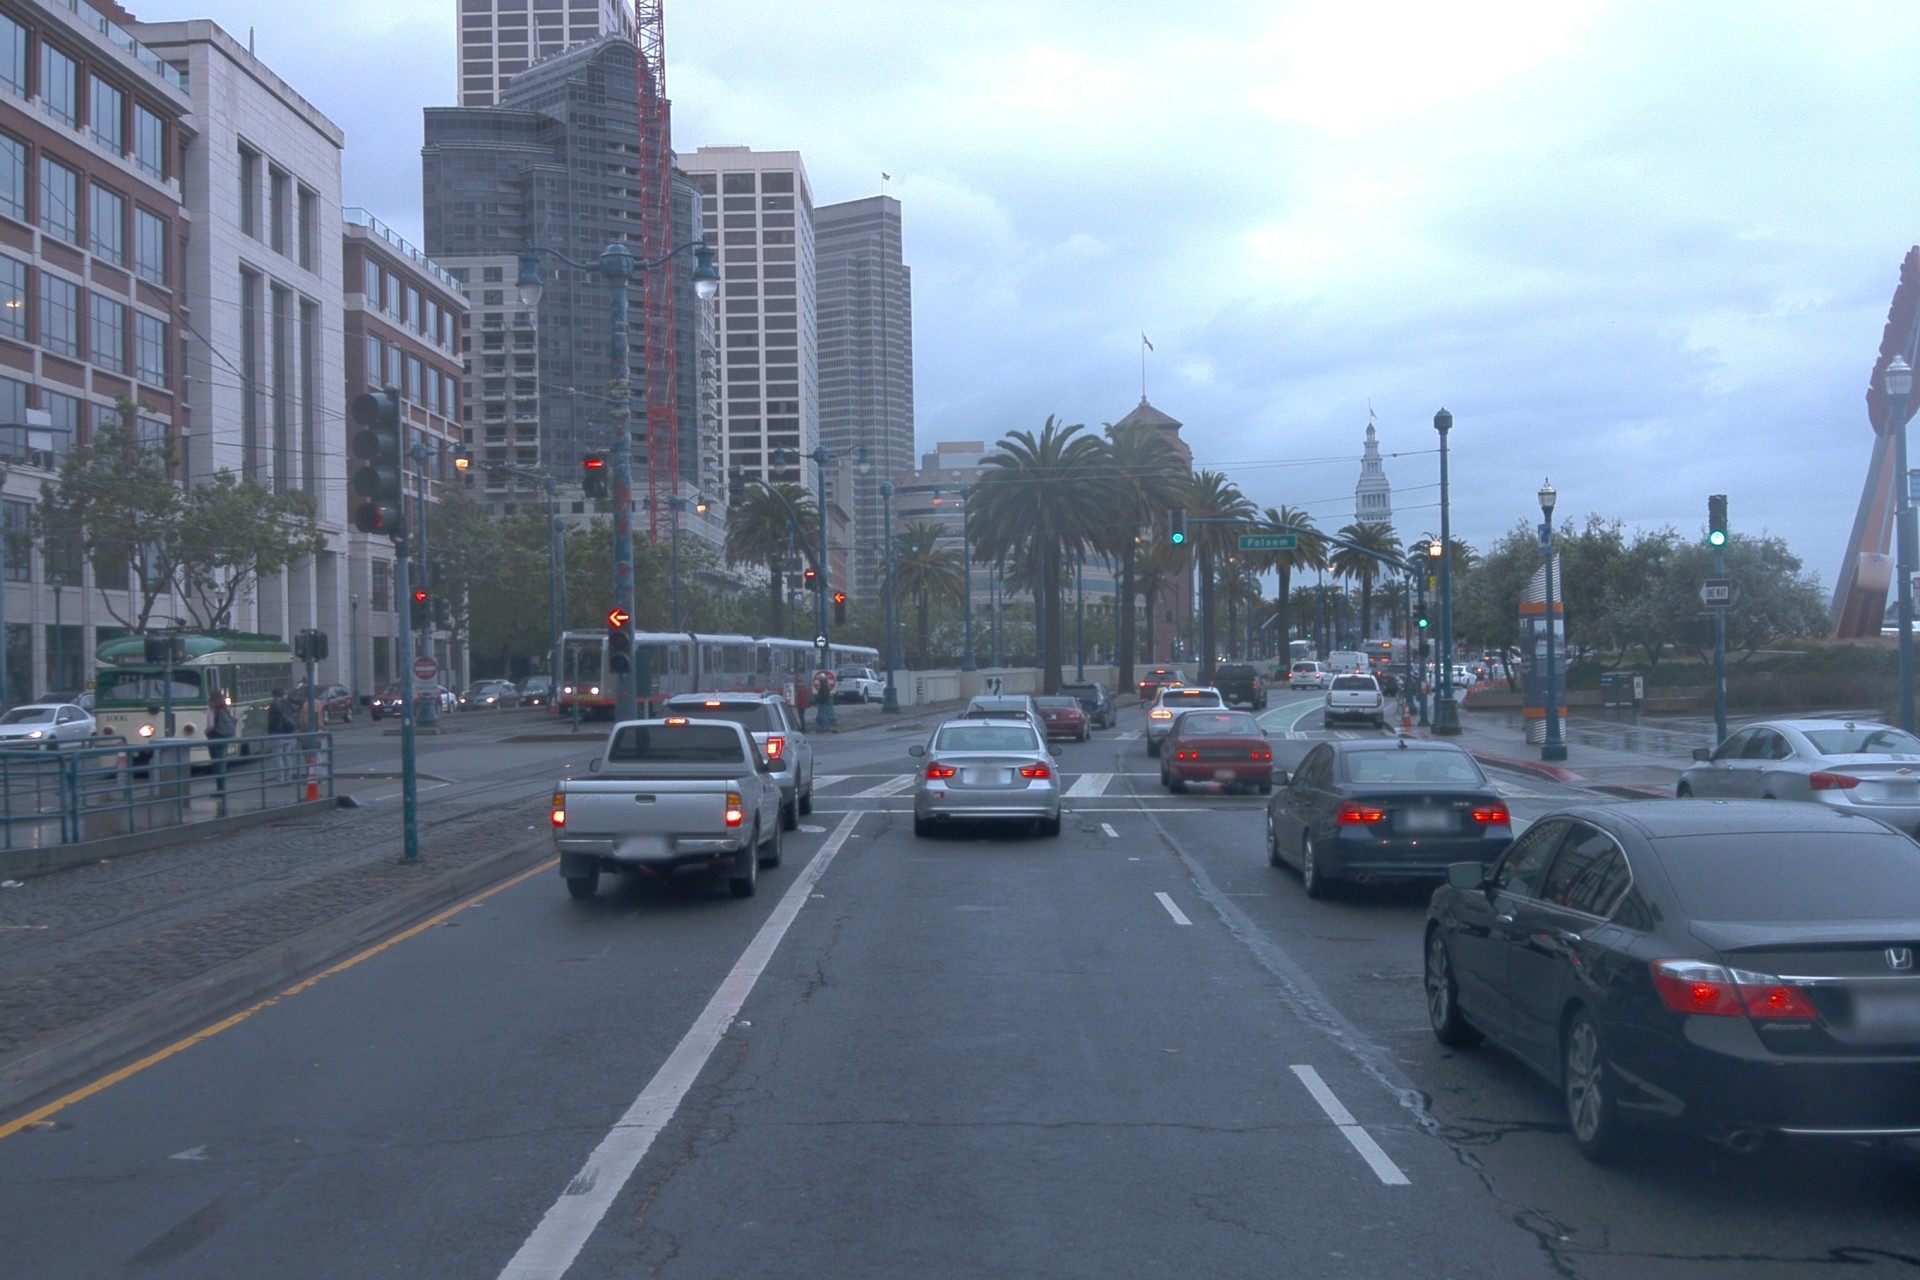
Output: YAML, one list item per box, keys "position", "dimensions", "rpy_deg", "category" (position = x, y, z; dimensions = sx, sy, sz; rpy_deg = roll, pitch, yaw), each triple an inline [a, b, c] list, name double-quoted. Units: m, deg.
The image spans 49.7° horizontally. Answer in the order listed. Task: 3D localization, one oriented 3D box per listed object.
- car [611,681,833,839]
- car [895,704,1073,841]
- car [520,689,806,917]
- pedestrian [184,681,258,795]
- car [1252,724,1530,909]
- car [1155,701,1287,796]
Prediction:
- position: [-3.034, 1.505, 27.592]
  dimensions: [2.401, 1.870, 5.027]
  rpy_deg: [0, -1, 0]
  category: "car"
- position: [0.322, 1.611, 26.459]
  dimensions: [2.067, 1.510, 4.625]
  rpy_deg: [0, -1, 1]
  category: "car"
- position: [-2.670, 1.427, 19.796]
  dimensions: [2.053, 1.860, 4.771]
  rpy_deg: [0, -1, 0]
  category: "car"
- position: [-12.079, 1.591, 33.922]
  dimensions: [0.842, 1.840, 0.842]
  rpy_deg: [0, -1, 8]
  category: "pedestrian"
- position: [3.955, 1.583, 19.738]
  dimensions: [1.869, 1.450, 4.344]
  rpy_deg: [0, -1, 2]
  category: "car"
- position: [4.306, 1.772, 34.705]
  dimensions: [1.924, 1.450, 3.944]
  rpy_deg: [0, -1, 3]
  category: "car"
